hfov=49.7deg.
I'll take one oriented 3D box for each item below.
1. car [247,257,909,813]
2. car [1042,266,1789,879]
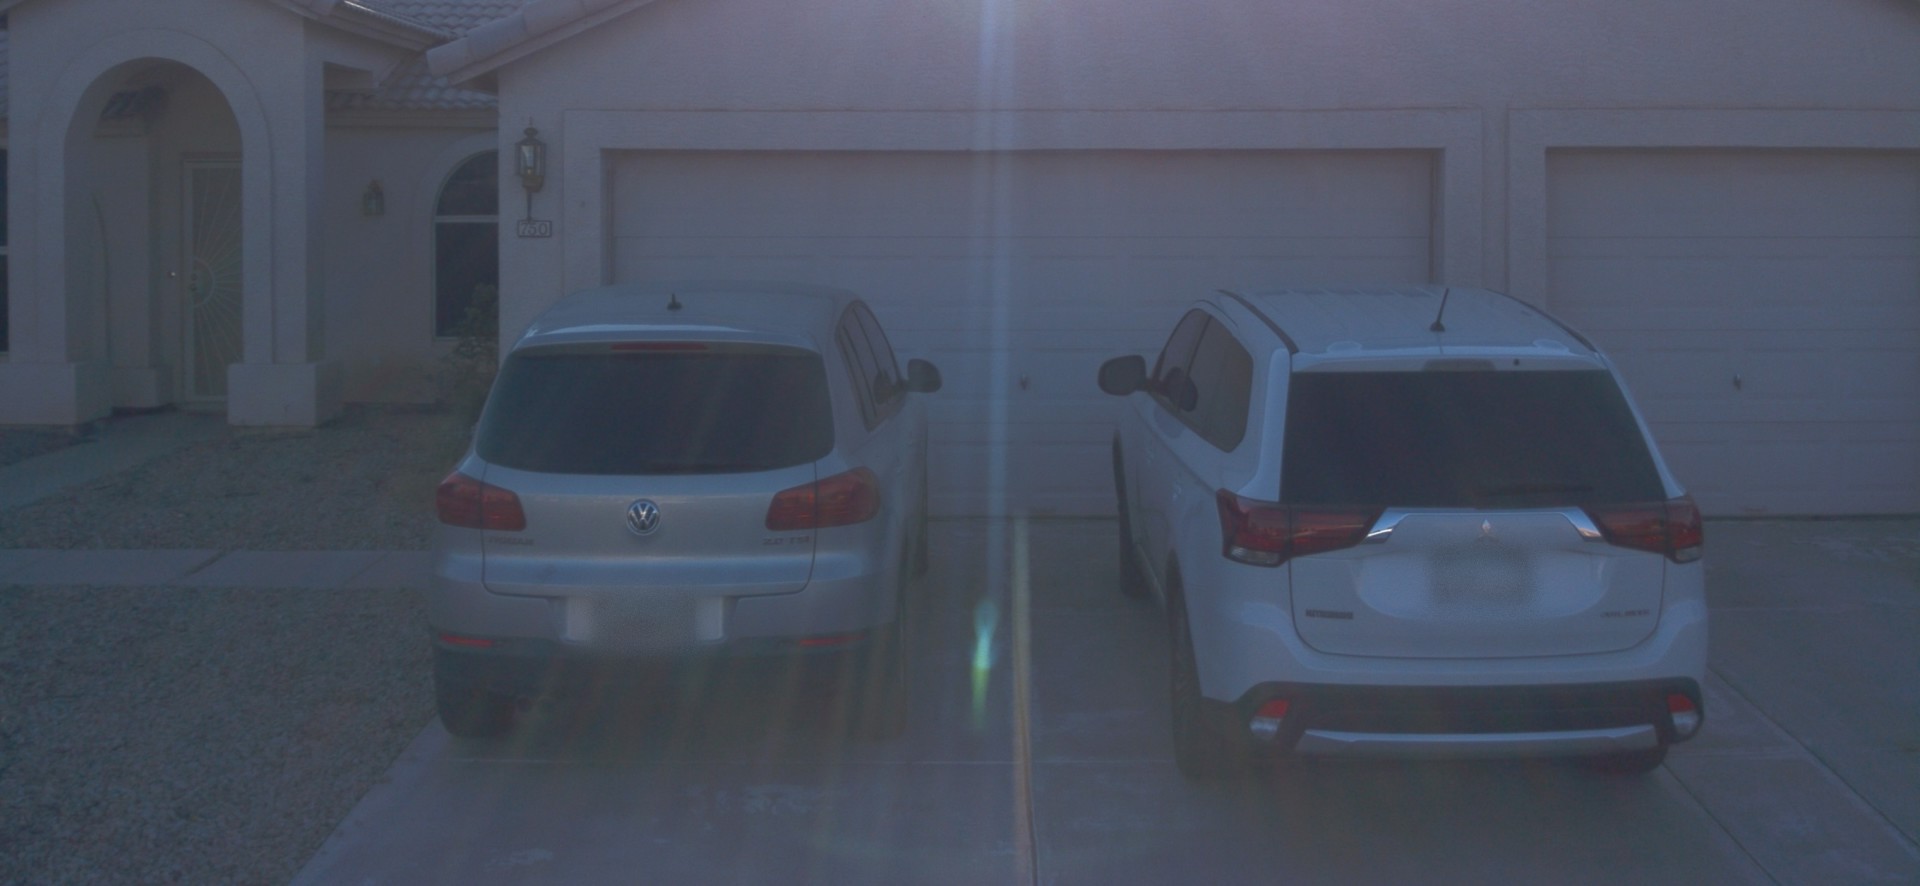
[{"bbox_3d":[-1.325,0.109,9.119,2.036,1.783,4.450,0,5,0],"label":"car"},{"bbox_3d":[1.471,0.200,8.533,2.138,1.773,4.507,0,5,0],"label":"car"}]
